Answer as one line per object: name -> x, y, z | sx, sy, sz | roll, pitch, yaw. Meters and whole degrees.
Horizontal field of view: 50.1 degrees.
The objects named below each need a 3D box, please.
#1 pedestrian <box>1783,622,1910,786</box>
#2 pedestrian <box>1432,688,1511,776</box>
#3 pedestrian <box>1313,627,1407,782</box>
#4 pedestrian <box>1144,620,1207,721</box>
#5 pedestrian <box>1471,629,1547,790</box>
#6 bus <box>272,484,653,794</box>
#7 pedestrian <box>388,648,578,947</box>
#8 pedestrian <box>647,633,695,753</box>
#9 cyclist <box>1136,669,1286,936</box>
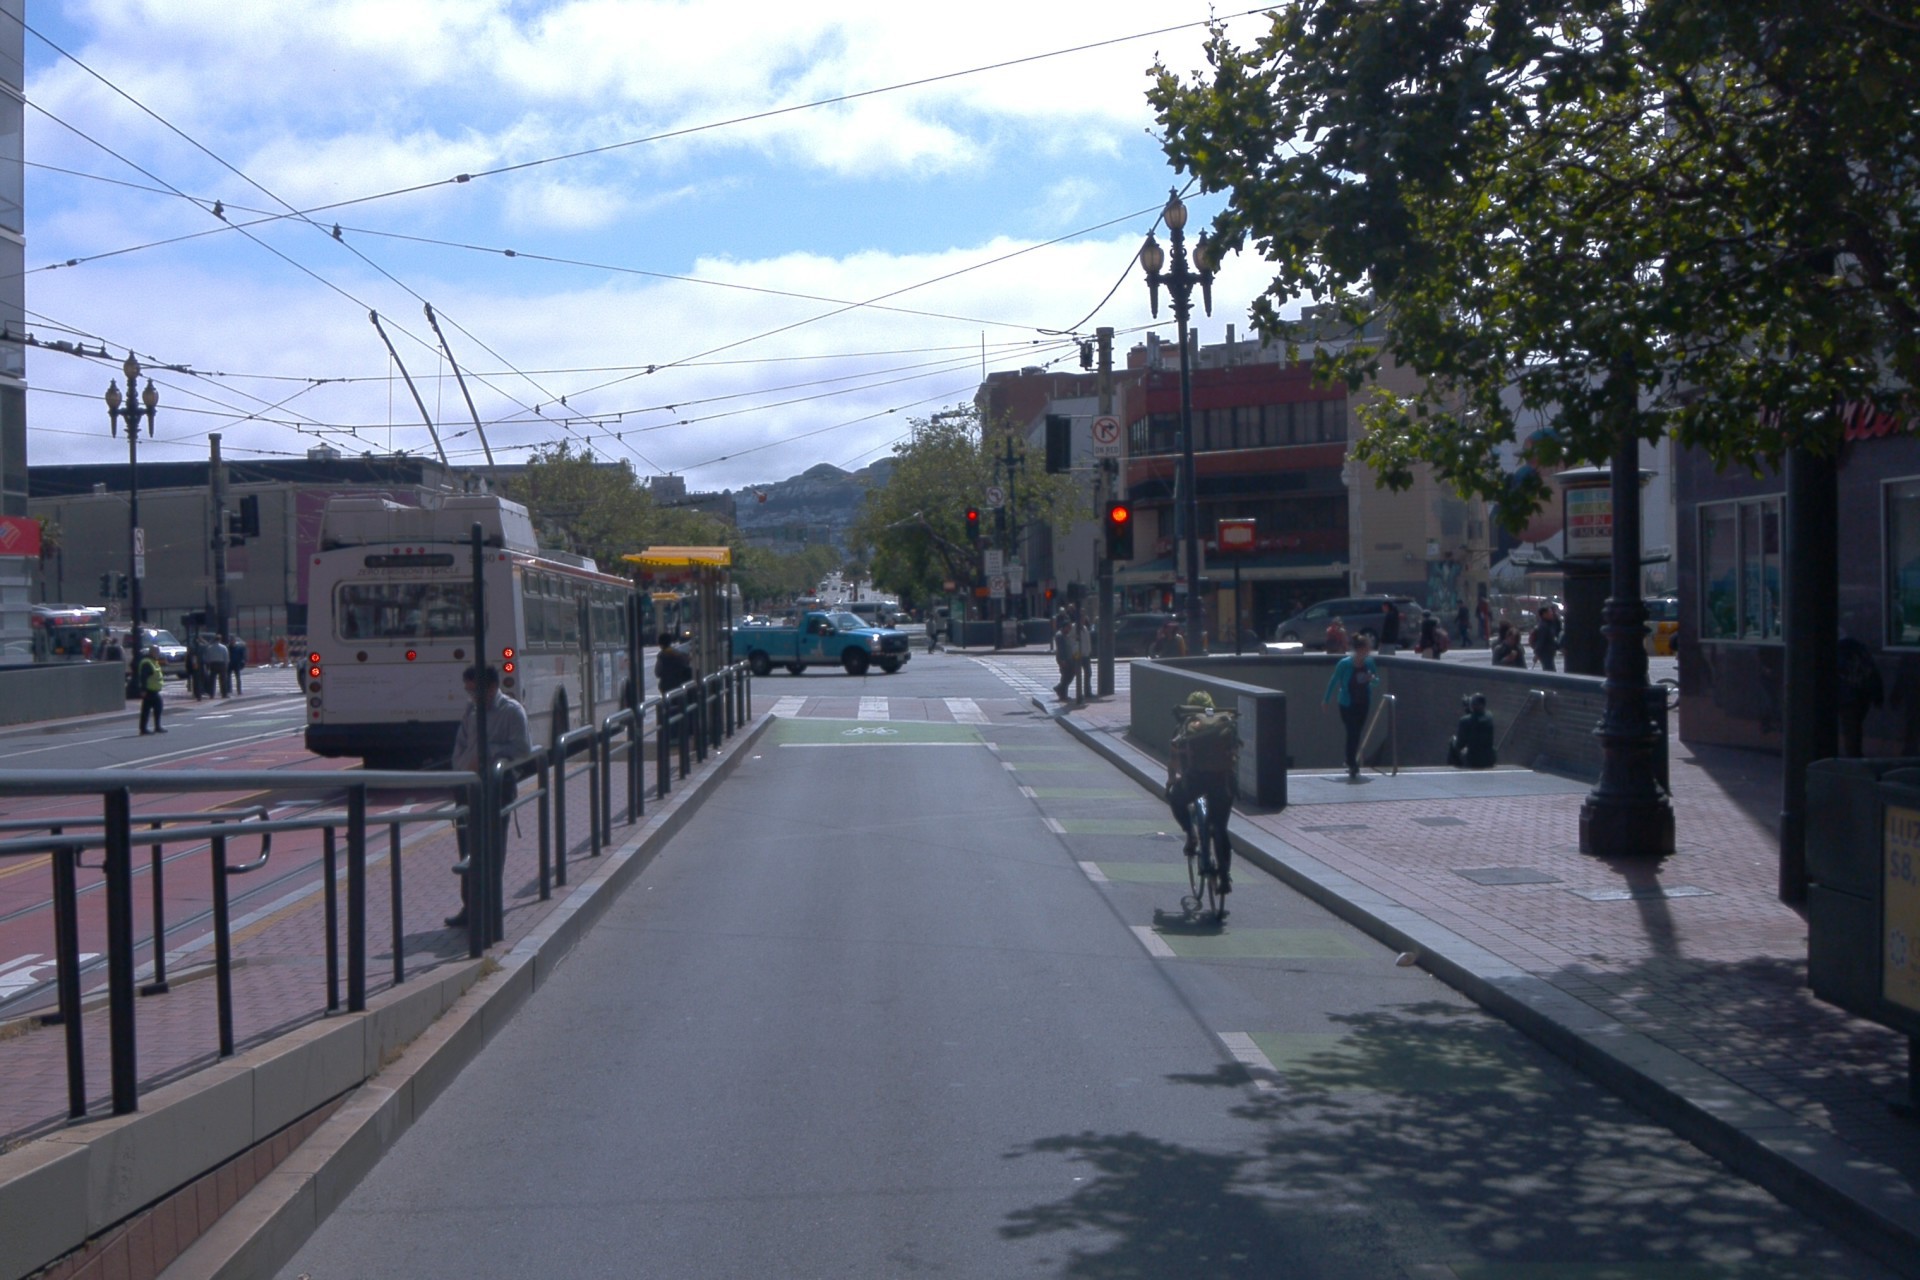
pedestrian -> 9.370, 0.658, 21.773 | 0.880, 1.680, 1.055 | 0, 1, 0
pedestrian -> 6.170, 1.101, 24.834 | 0.702, 1.000, 0.902 | 0, 1, -2
pedestrian -> 4.631, 0.724, 23.839 | 0.749, 1.740, 1.053 | 0, 1, -9
pedestrian -> 3.783, 0.520, 36.124 | 1.045, 1.750, 0.817 | 0, 1, 3
pedestrian -> 7.658, 0.957, 28.719 | 0.779, 2.200, 0.956 | 0, 1, -2
bus -> -6.820, -0.088, 30.506 | 3.070, 3.670, 12.176 | 0, 1, -2
pedestrian -> -2.931, 0.933, 12.662 | 0.807, 1.750, 0.799 | 0, 1, 26
pedestrian -> -4.134, 0.748, 29.433 | 0.667, 1.680, 0.622 | 0, 1, -6
cyclist -> 1.786, 1.118, 14.893 | 0.806, 1.770, 1.802 | 0, 1, -2
